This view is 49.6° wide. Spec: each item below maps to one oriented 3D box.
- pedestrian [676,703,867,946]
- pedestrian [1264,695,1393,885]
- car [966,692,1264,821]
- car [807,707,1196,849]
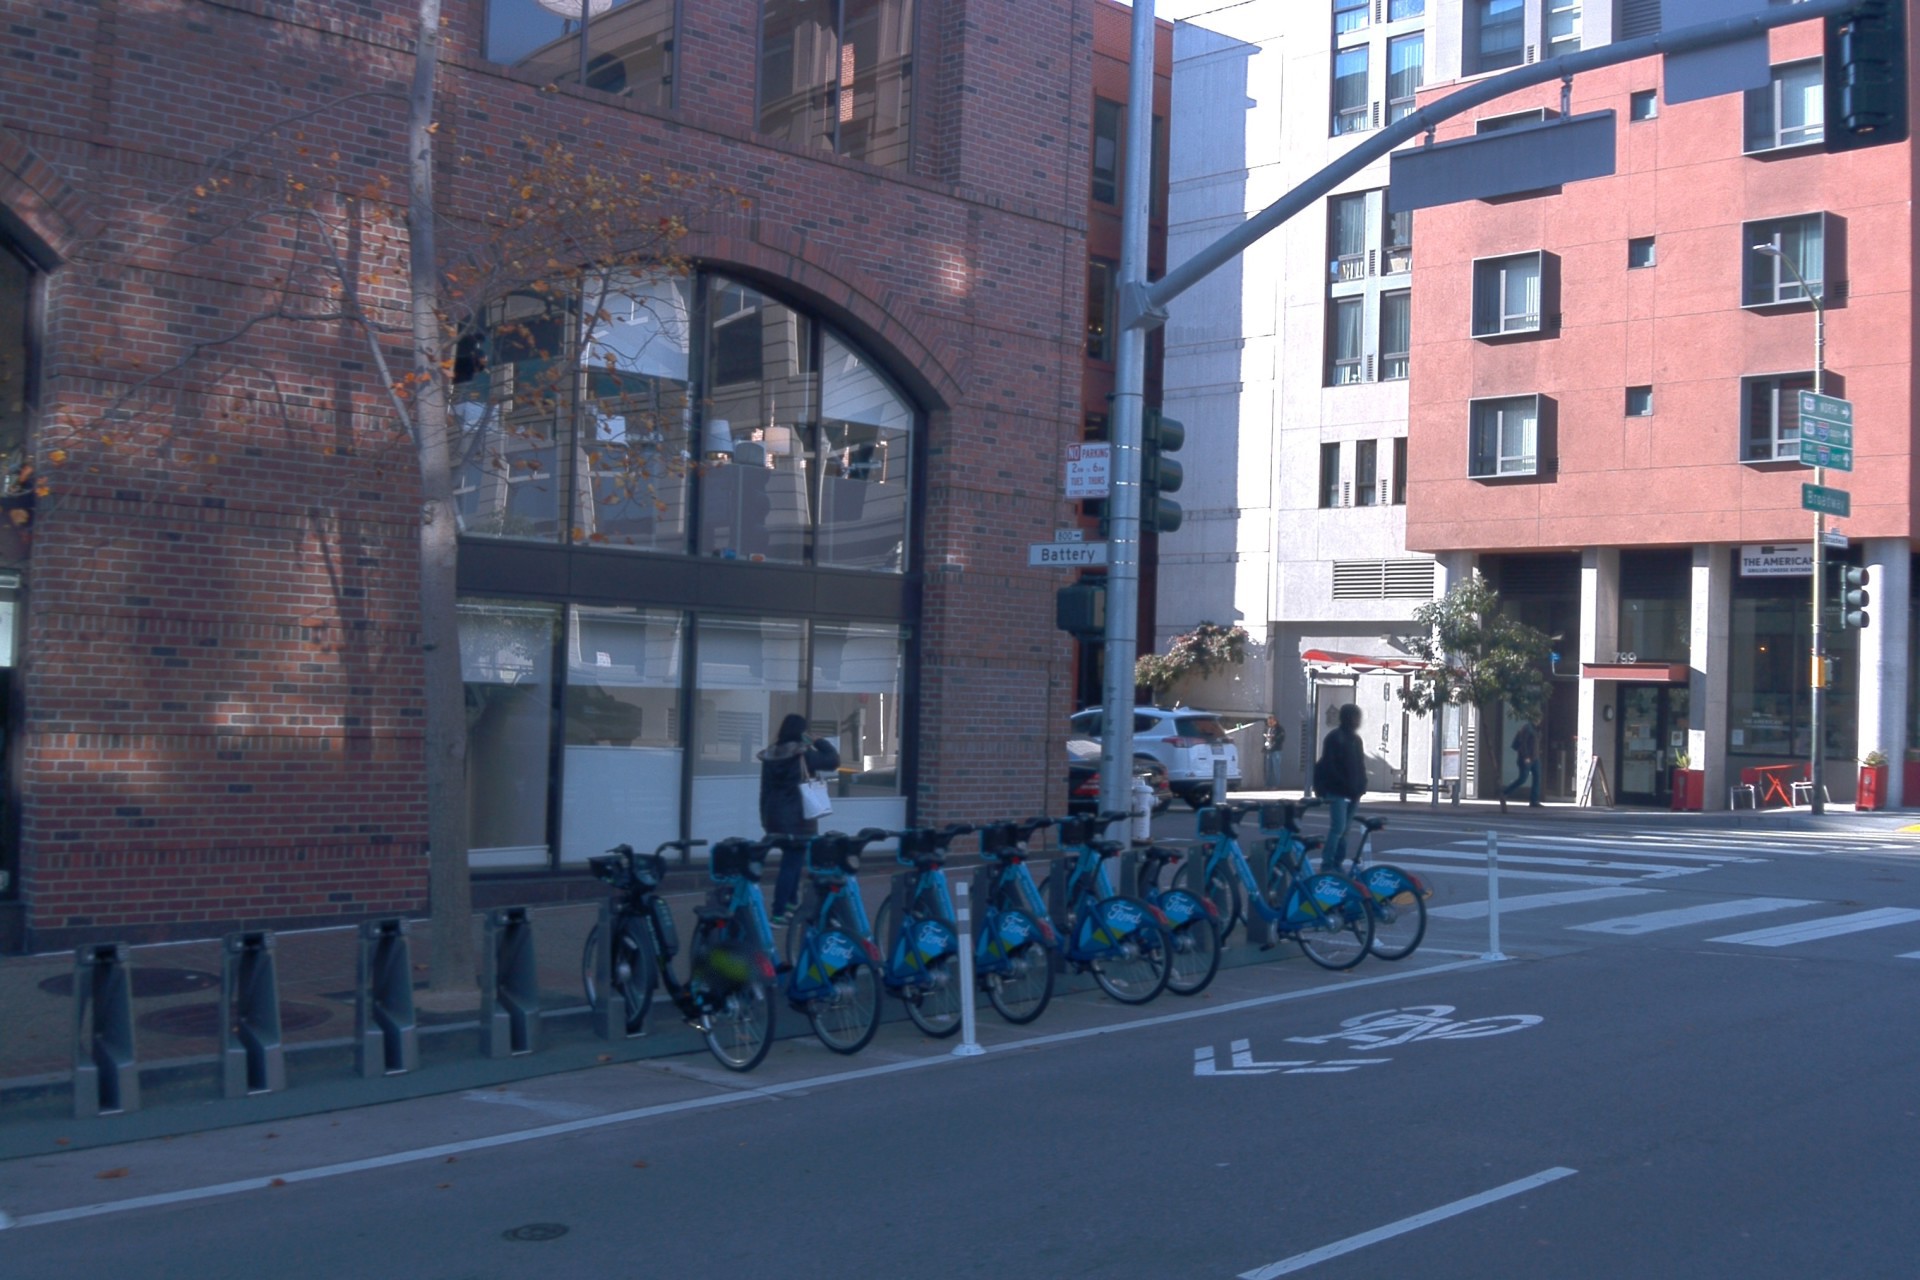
[{"bbox_3d":[-1.403,1.339,15.544,0.980,1.710,0.992,0,-1,37],"label":"pedestrian"},{"bbox_3d":[3.514,1.399,19.785,0.885,1.730,0.836,2,-1,-44],"label":"pedestrian"},{"bbox_3d":[2.507,1.848,34.227,4.559,1.880,2.050,0,-1,41],"label":"car"},{"bbox_3d":[0.465,1.752,27.705,5.063,1.590,2.055,0,-1,42],"label":"car"}]
